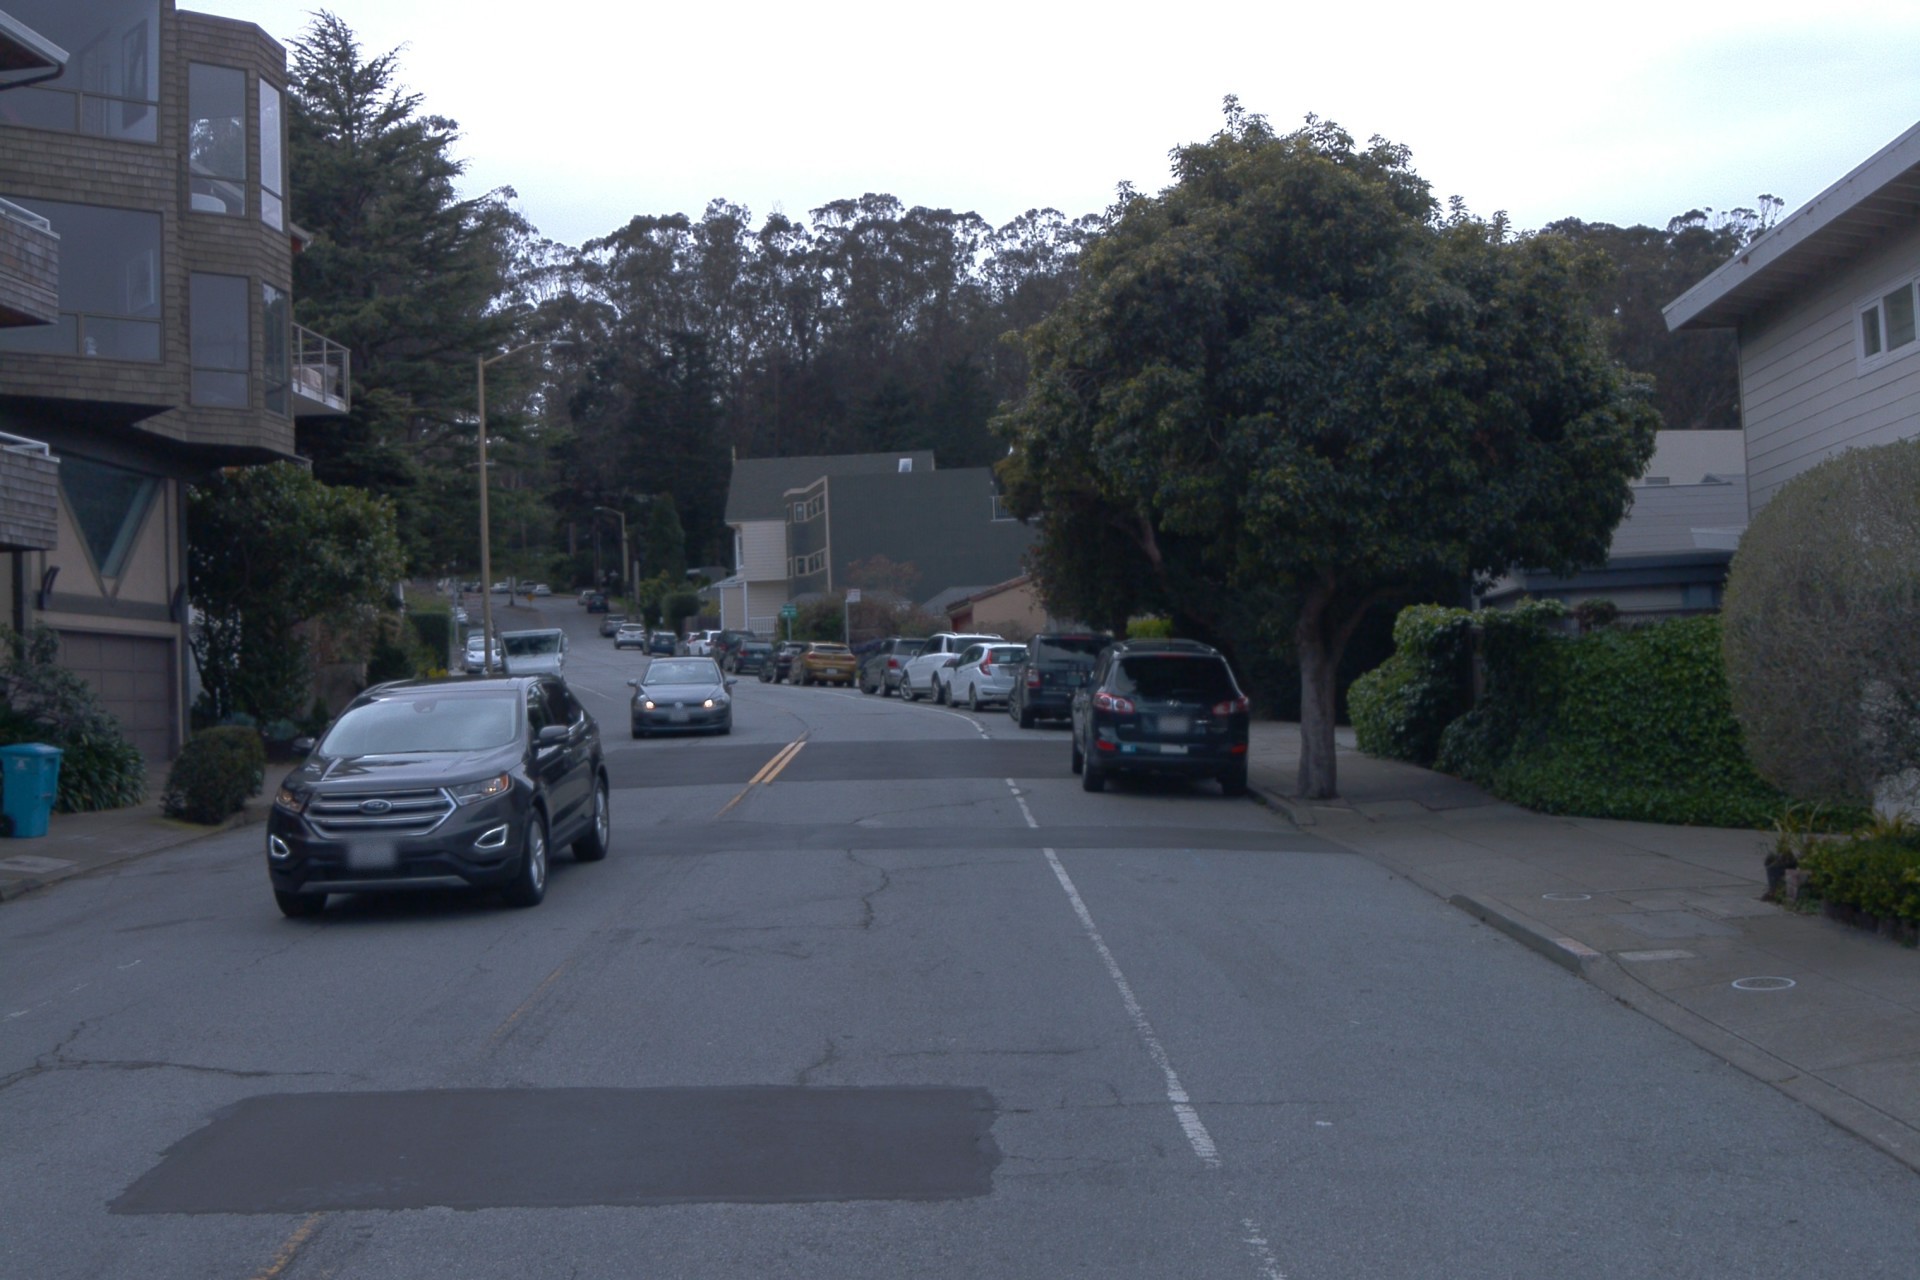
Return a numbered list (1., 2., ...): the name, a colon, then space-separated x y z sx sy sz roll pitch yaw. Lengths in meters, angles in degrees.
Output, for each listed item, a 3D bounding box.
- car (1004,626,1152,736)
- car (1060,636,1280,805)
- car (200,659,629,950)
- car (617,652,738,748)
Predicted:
1. car: 2.114 0.694 38.270 2.330 1.870 5.068 0 1 -1
2. car: 2.440 0.887 25.125 2.249 1.820 4.744 0 1 1
3. car: -4.031 1.126 16.091 2.158 1.840 4.634 0 1 0
4. car: -5.156 1.053 37.993 2.000 1.590 4.309 0 1 -5
